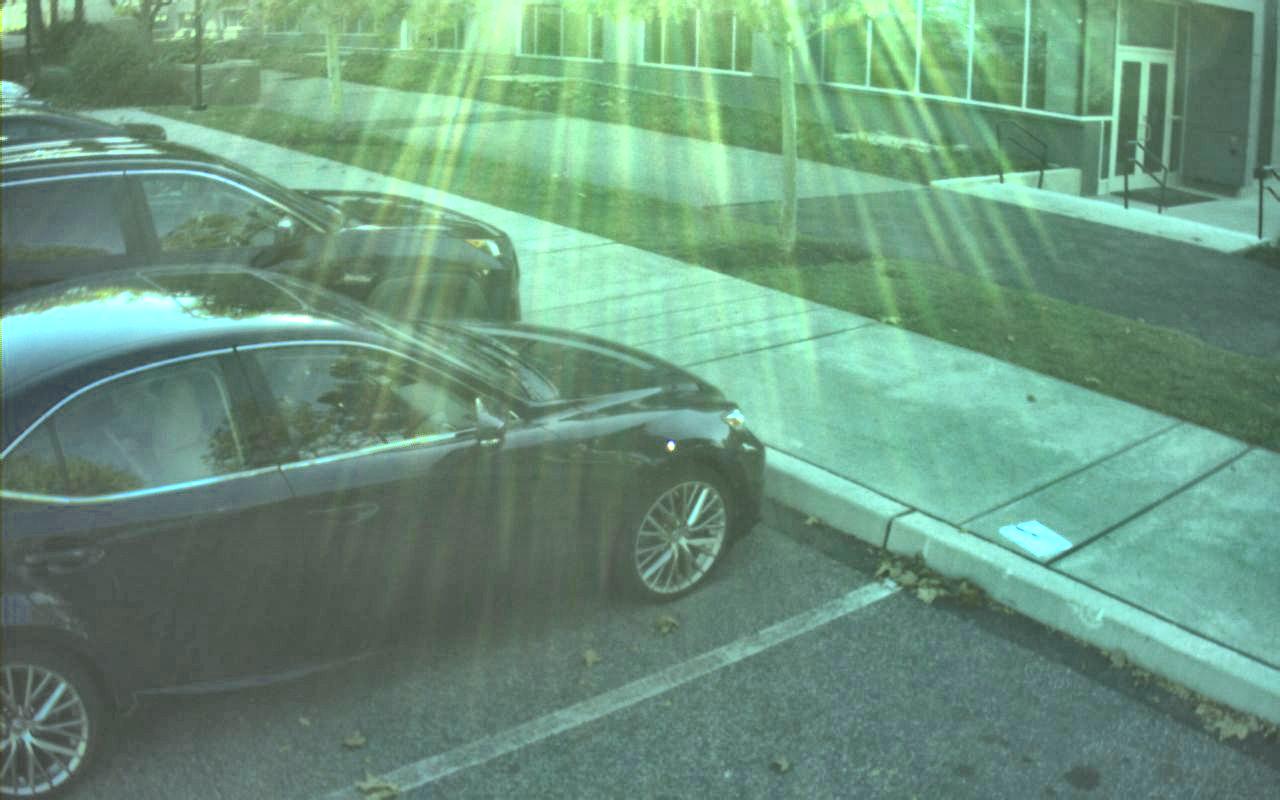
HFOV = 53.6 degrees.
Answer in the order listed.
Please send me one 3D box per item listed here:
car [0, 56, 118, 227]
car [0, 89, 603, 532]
[{"bbox_3d":[-9.232,-3.453,14.307,4.480,1.575,1.956,-14,21,-37],"label":"car"},{"bbox_3d":[-2.662,-0.756,6.810,4.547,1.644,1.999,-12,20,-33],"label":"car"}]
